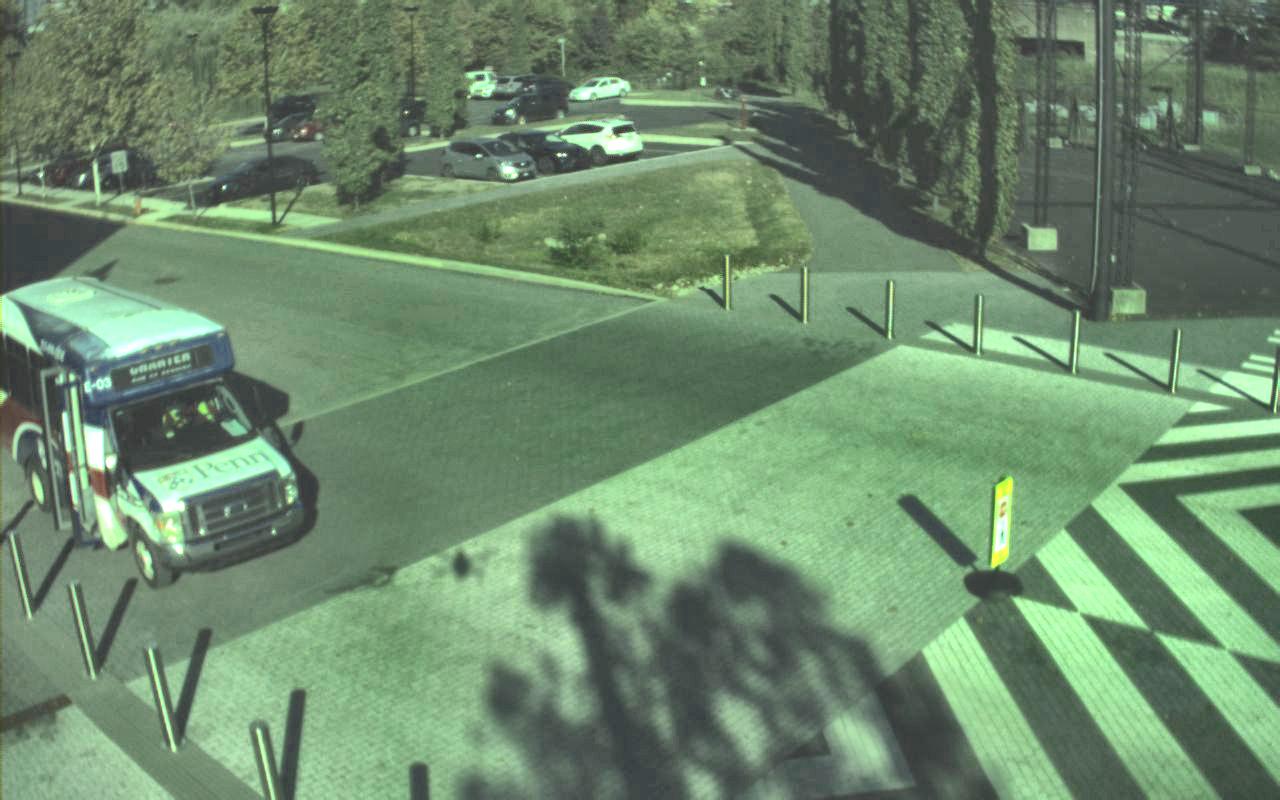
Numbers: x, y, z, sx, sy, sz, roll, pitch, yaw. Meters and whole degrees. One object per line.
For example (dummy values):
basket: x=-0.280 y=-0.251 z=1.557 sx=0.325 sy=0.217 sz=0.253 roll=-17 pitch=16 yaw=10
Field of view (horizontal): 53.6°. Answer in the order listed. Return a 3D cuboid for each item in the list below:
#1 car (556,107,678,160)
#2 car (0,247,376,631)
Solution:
car: x=-0.923 y=-10.320 z=48.148 sx=4.544 sy=1.721 sz=2.018 roll=13 pitch=22 yaw=40
car: x=-6.533 y=0.061 z=15.322 sx=2.697 sy=2.988 sz=7.131 roll=-16 pitch=22 yaw=-42
